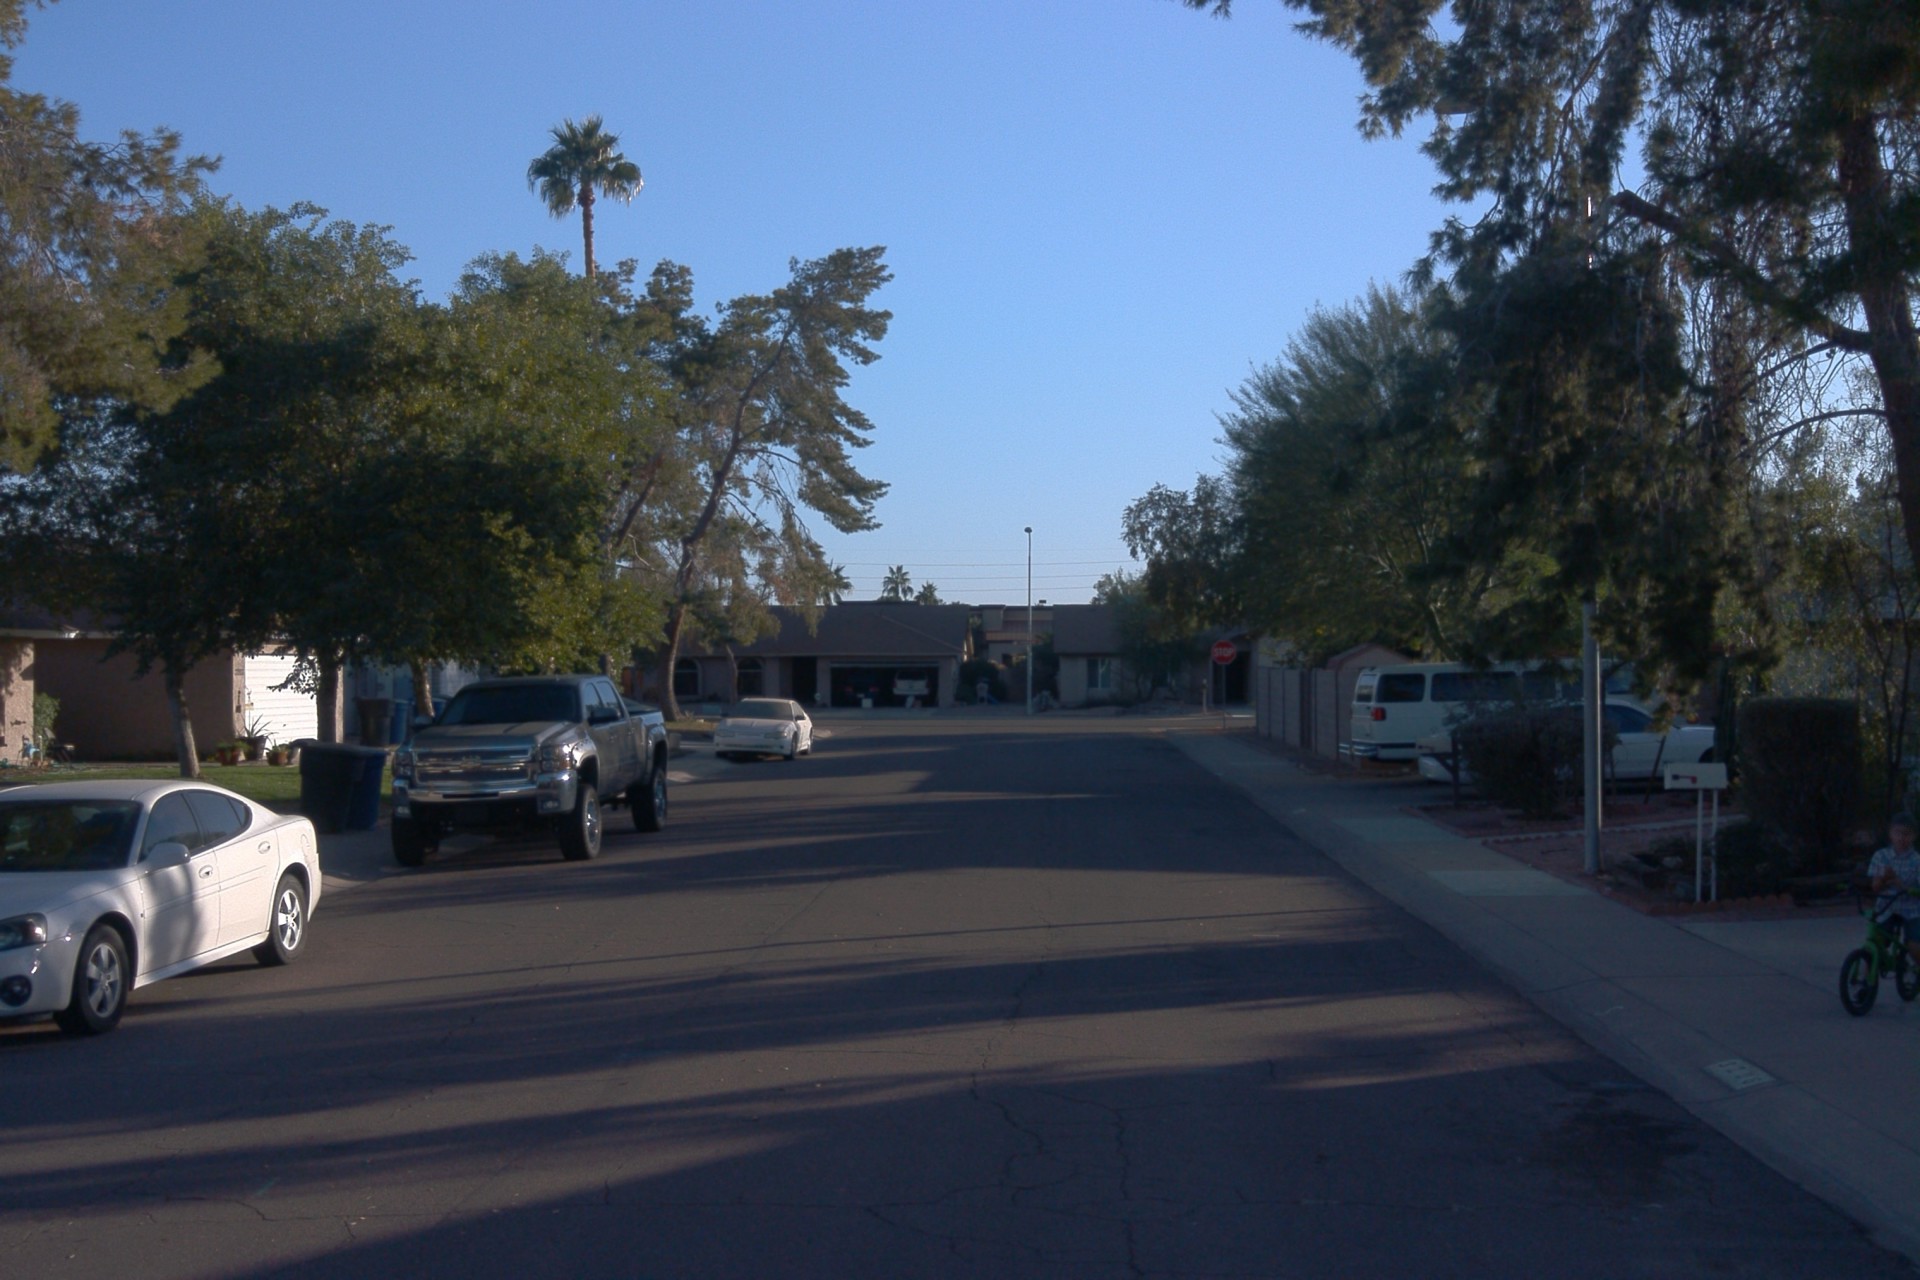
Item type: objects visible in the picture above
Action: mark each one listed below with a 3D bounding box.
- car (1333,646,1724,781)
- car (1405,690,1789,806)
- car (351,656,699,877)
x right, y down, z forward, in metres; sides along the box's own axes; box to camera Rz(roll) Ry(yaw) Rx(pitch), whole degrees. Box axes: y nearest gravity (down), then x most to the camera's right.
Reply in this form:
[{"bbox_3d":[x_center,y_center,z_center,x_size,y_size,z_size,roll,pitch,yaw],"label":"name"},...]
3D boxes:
[{"bbox_3d":[9.672,1.246,35.628,6.009,2.160,2.415,1,-1,-2],"label":"car"},{"bbox_3d":[9.621,1.615,31.685,5.230,1.620,2.194,1,-1,4],"label":"car"},{"bbox_3d":[-5.056,1.410,25.266,2.528,2.330,6.159,1,-1,4],"label":"car"}]
